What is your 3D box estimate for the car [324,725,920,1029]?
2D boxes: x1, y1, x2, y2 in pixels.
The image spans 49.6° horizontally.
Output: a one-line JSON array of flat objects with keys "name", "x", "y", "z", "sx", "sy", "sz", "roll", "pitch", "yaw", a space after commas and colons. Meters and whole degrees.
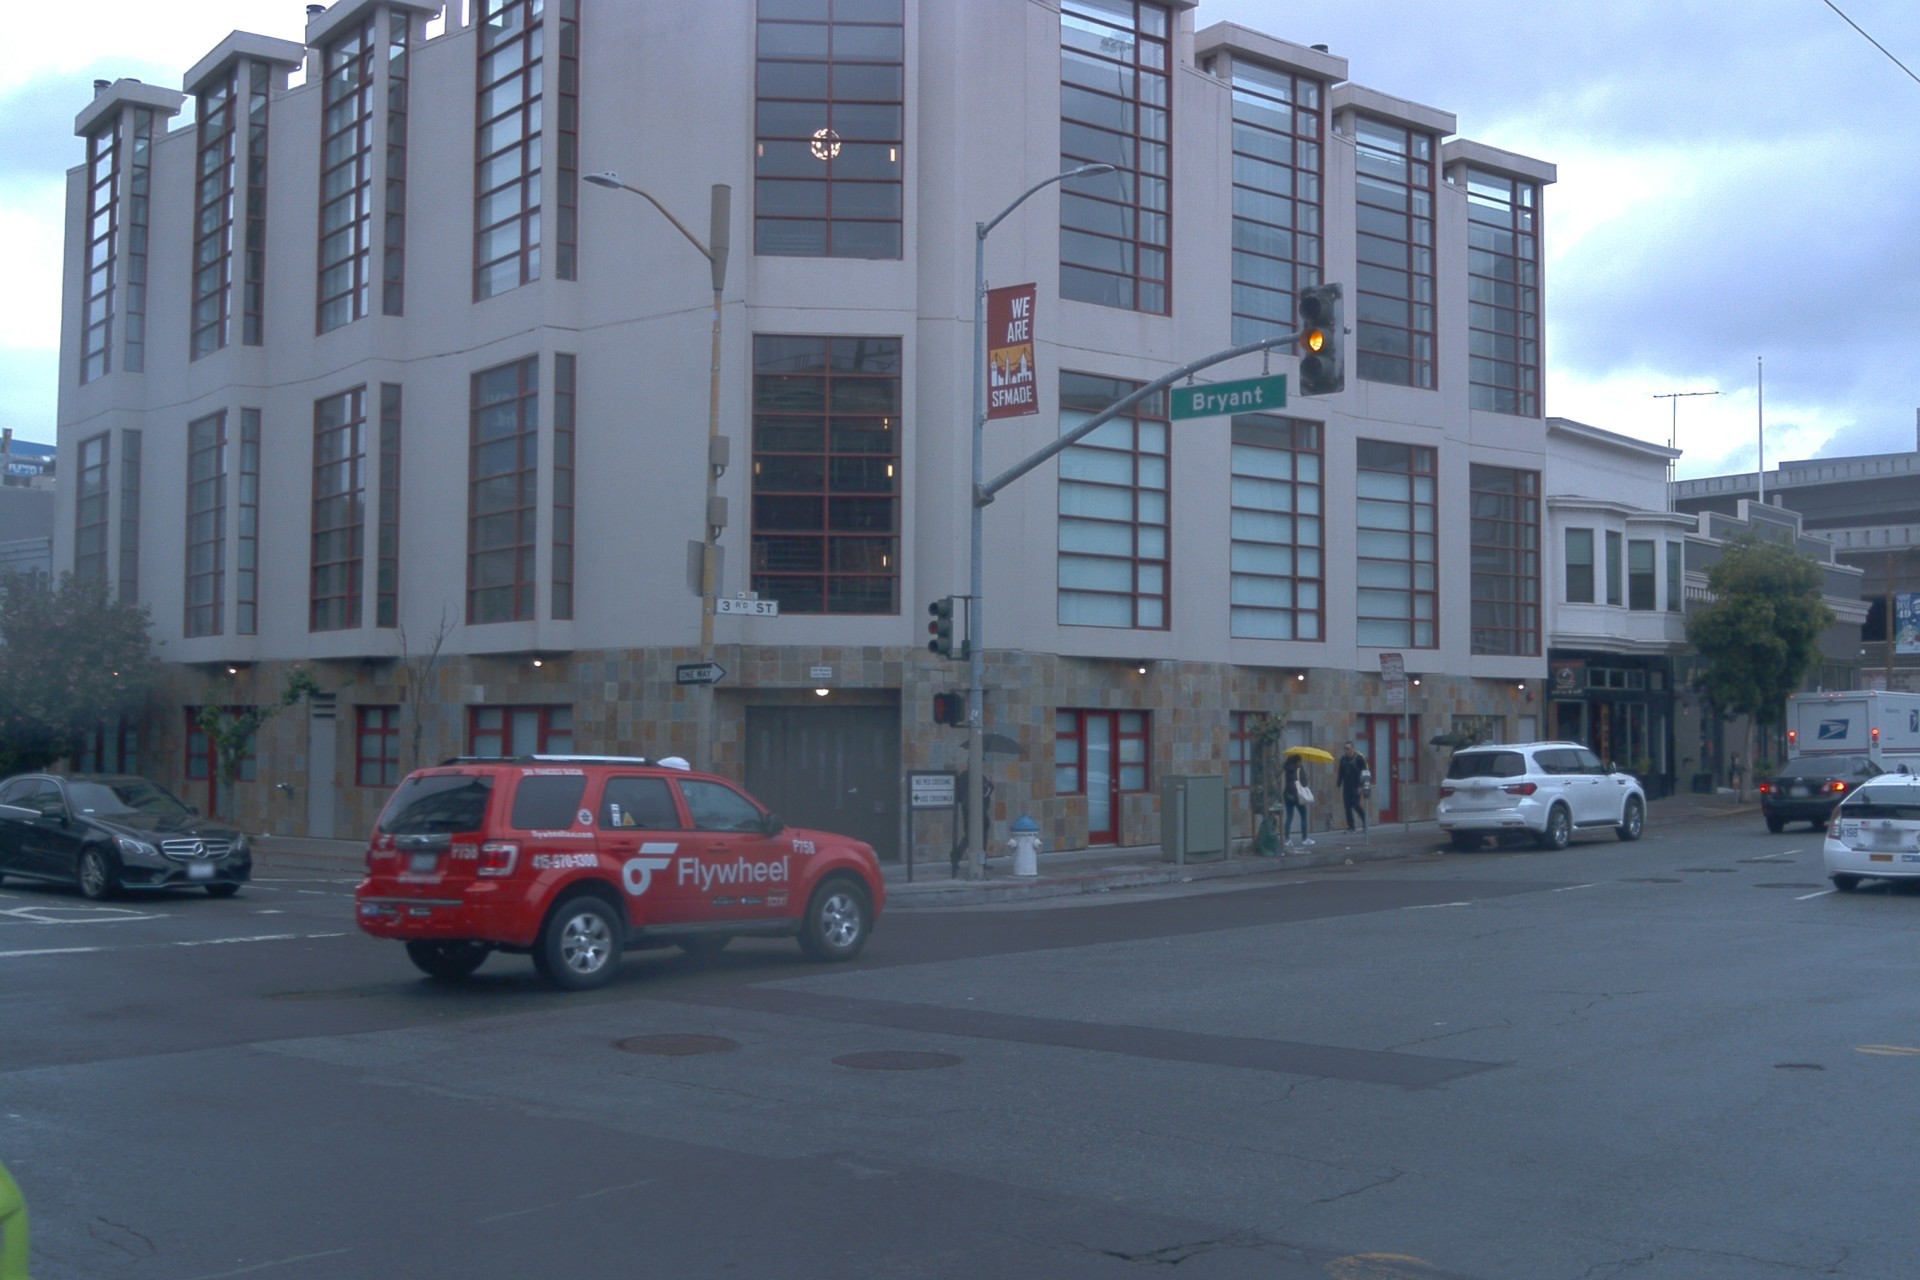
[{"name": "car", "x": -2.594, "y": 1.753, "z": 16.915, "sx": 2.018, "sy": 1.930, "sz": 4.560, "roll": 0, "pitch": 0, "yaw": 40}]

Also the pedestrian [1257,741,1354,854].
[{"name": "pedestrian", "x": 6.114, "y": 2.756, "z": 36.775, "sx": 1.137, "sy": 1.860, "sz": 1.362, "roll": 0, "pitch": 0, "yaw": 41}]

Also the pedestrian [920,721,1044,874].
[{"name": "pedestrian", "x": 0.316, "y": 2.268, "z": 30.449, "sx": 1.342, "sy": 2.110, "sz": 1.227, "roll": 0, "pitch": 0, "yaw": -40}]
